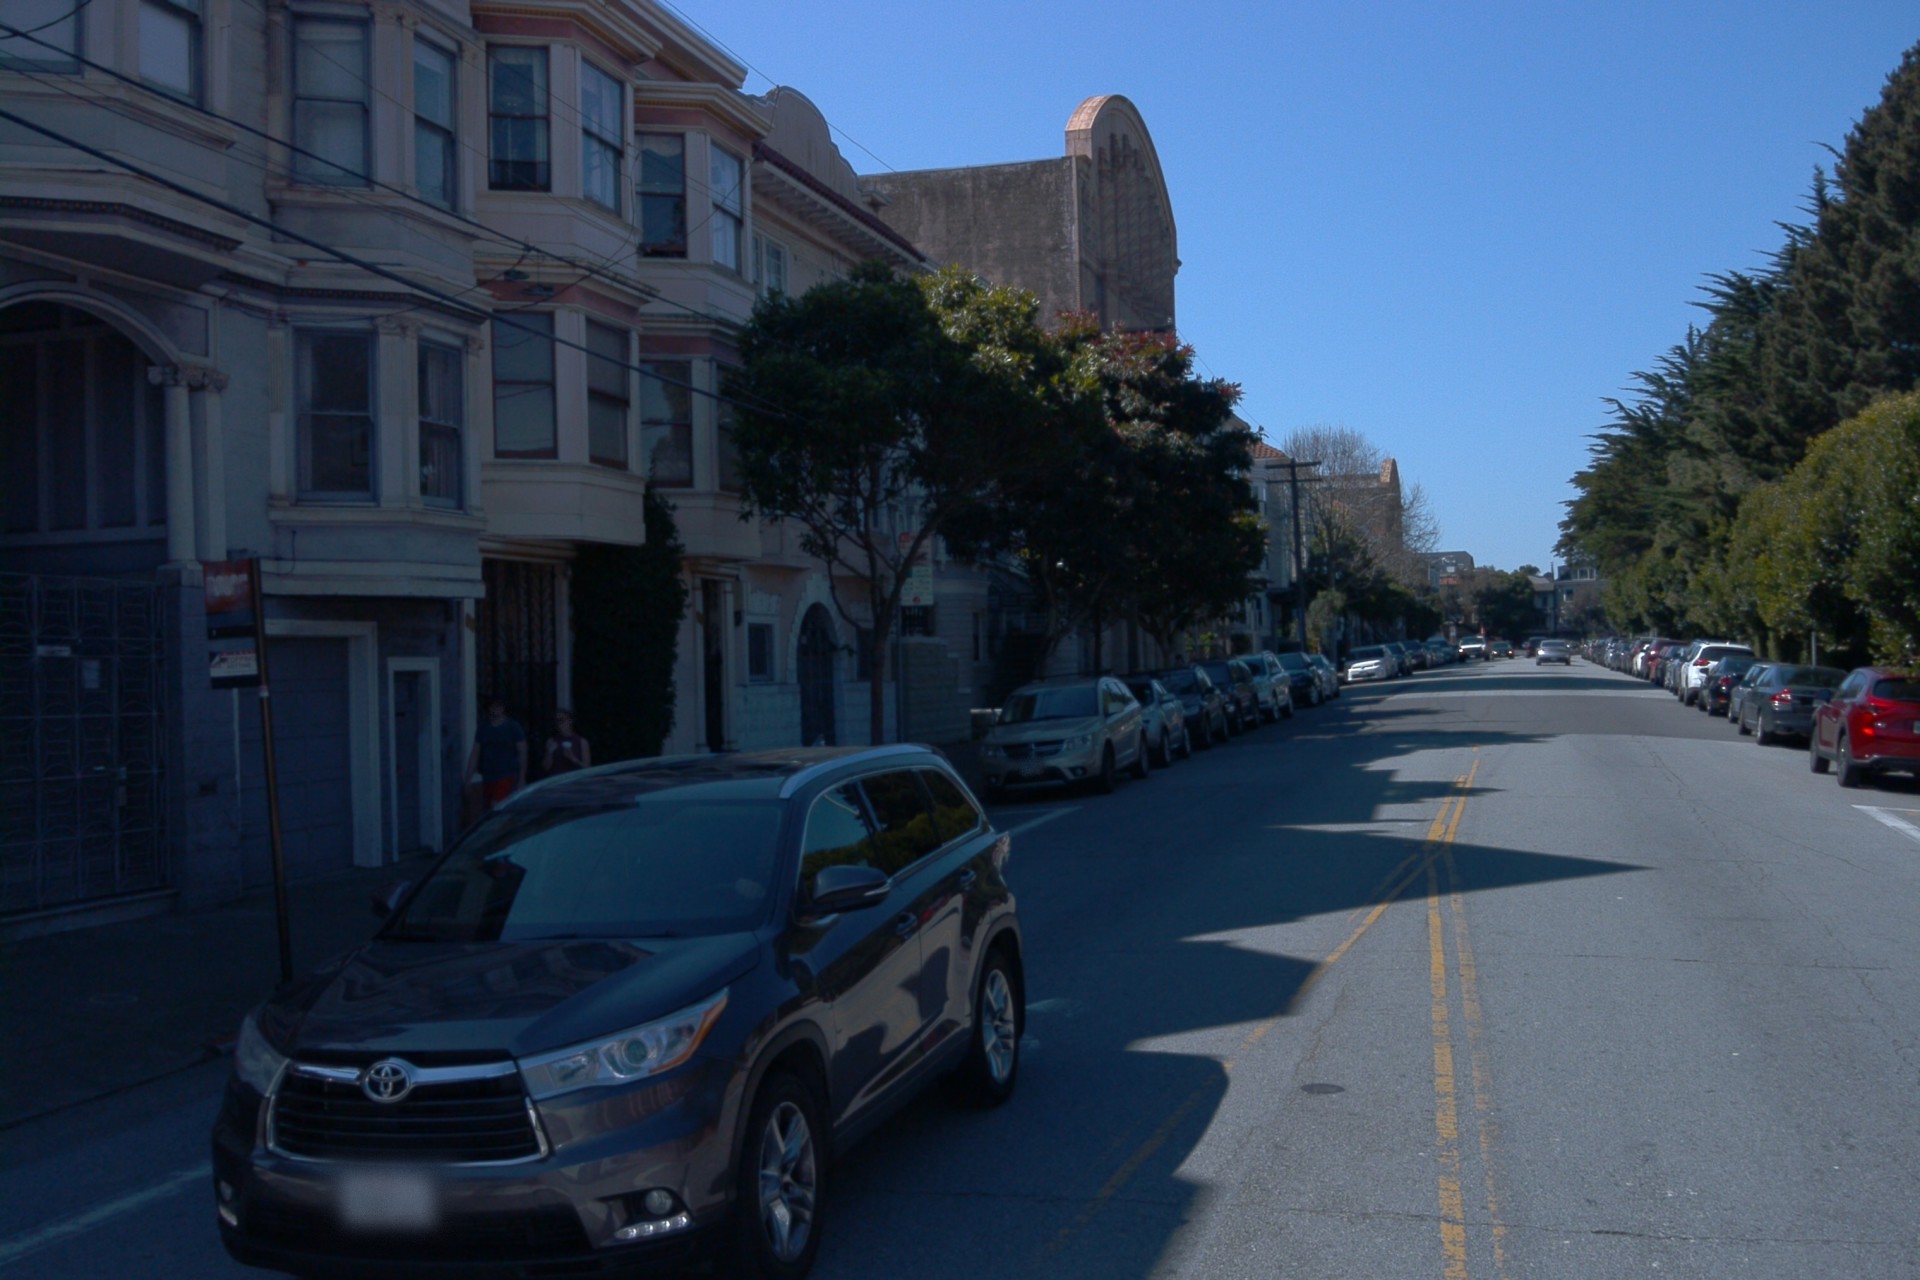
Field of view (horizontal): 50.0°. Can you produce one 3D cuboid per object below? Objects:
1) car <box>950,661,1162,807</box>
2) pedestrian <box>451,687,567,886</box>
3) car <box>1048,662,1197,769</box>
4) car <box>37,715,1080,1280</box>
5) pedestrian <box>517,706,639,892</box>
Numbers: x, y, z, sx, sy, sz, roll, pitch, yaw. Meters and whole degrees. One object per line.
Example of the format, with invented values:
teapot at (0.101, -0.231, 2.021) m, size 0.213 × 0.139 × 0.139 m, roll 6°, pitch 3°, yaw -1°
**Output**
car at (1.566, 1.325, 31.112) m, size 2.226 × 1.880 × 5.007 m, roll 0°, pitch 1°, yaw 14°
pedestrian at (-4.589, 1.467, 20.981) m, size 0.806 × 1.930 × 0.882 m, roll 1°, pitch 1°, yaw 20°
car at (2.927, 1.273, 36.178) m, size 1.983 × 1.640 × 4.292 m, roll 0°, pitch 1°, yaw 13°
car at (-1.097, 1.342, 8.280) m, size 2.177 × 1.800 × 4.857 m, roll 0°, pitch 1°, yaw 15°
pedestrian at (-3.862, 1.584, 20.836) m, size 0.864 × 1.780 × 0.989 m, roll 0°, pitch 1°, yaw 16°
